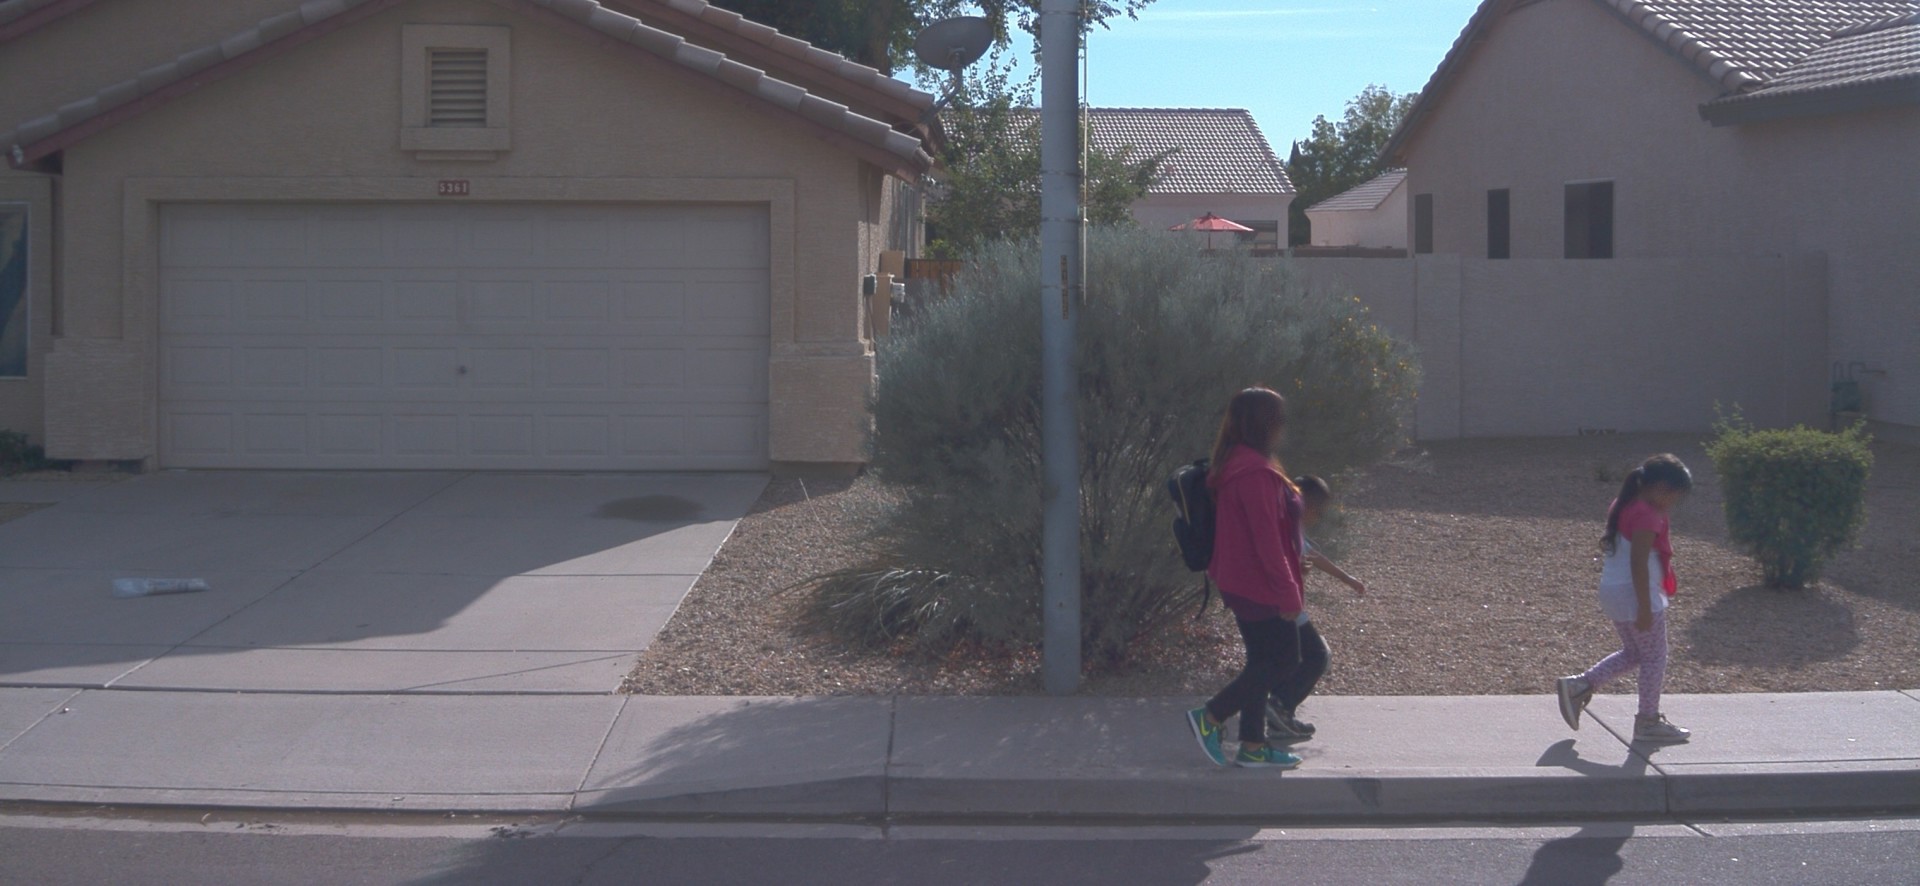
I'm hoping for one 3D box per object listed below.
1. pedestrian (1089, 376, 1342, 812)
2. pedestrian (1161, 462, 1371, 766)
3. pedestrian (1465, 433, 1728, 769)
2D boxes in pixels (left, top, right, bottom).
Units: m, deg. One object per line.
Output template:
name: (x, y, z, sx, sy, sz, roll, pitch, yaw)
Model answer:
pedestrian: (0.991, 0.554, 8.227, 0.851, 1.577, 0.784, 0, 2, -5)
pedestrian: (1.274, 0.696, 8.756, 0.794, 1.148, 0.694, 0, 2, 1)
pedestrian: (2.647, 0.631, 8.712, 0.878, 1.268, 0.763, 0, 2, 2)
